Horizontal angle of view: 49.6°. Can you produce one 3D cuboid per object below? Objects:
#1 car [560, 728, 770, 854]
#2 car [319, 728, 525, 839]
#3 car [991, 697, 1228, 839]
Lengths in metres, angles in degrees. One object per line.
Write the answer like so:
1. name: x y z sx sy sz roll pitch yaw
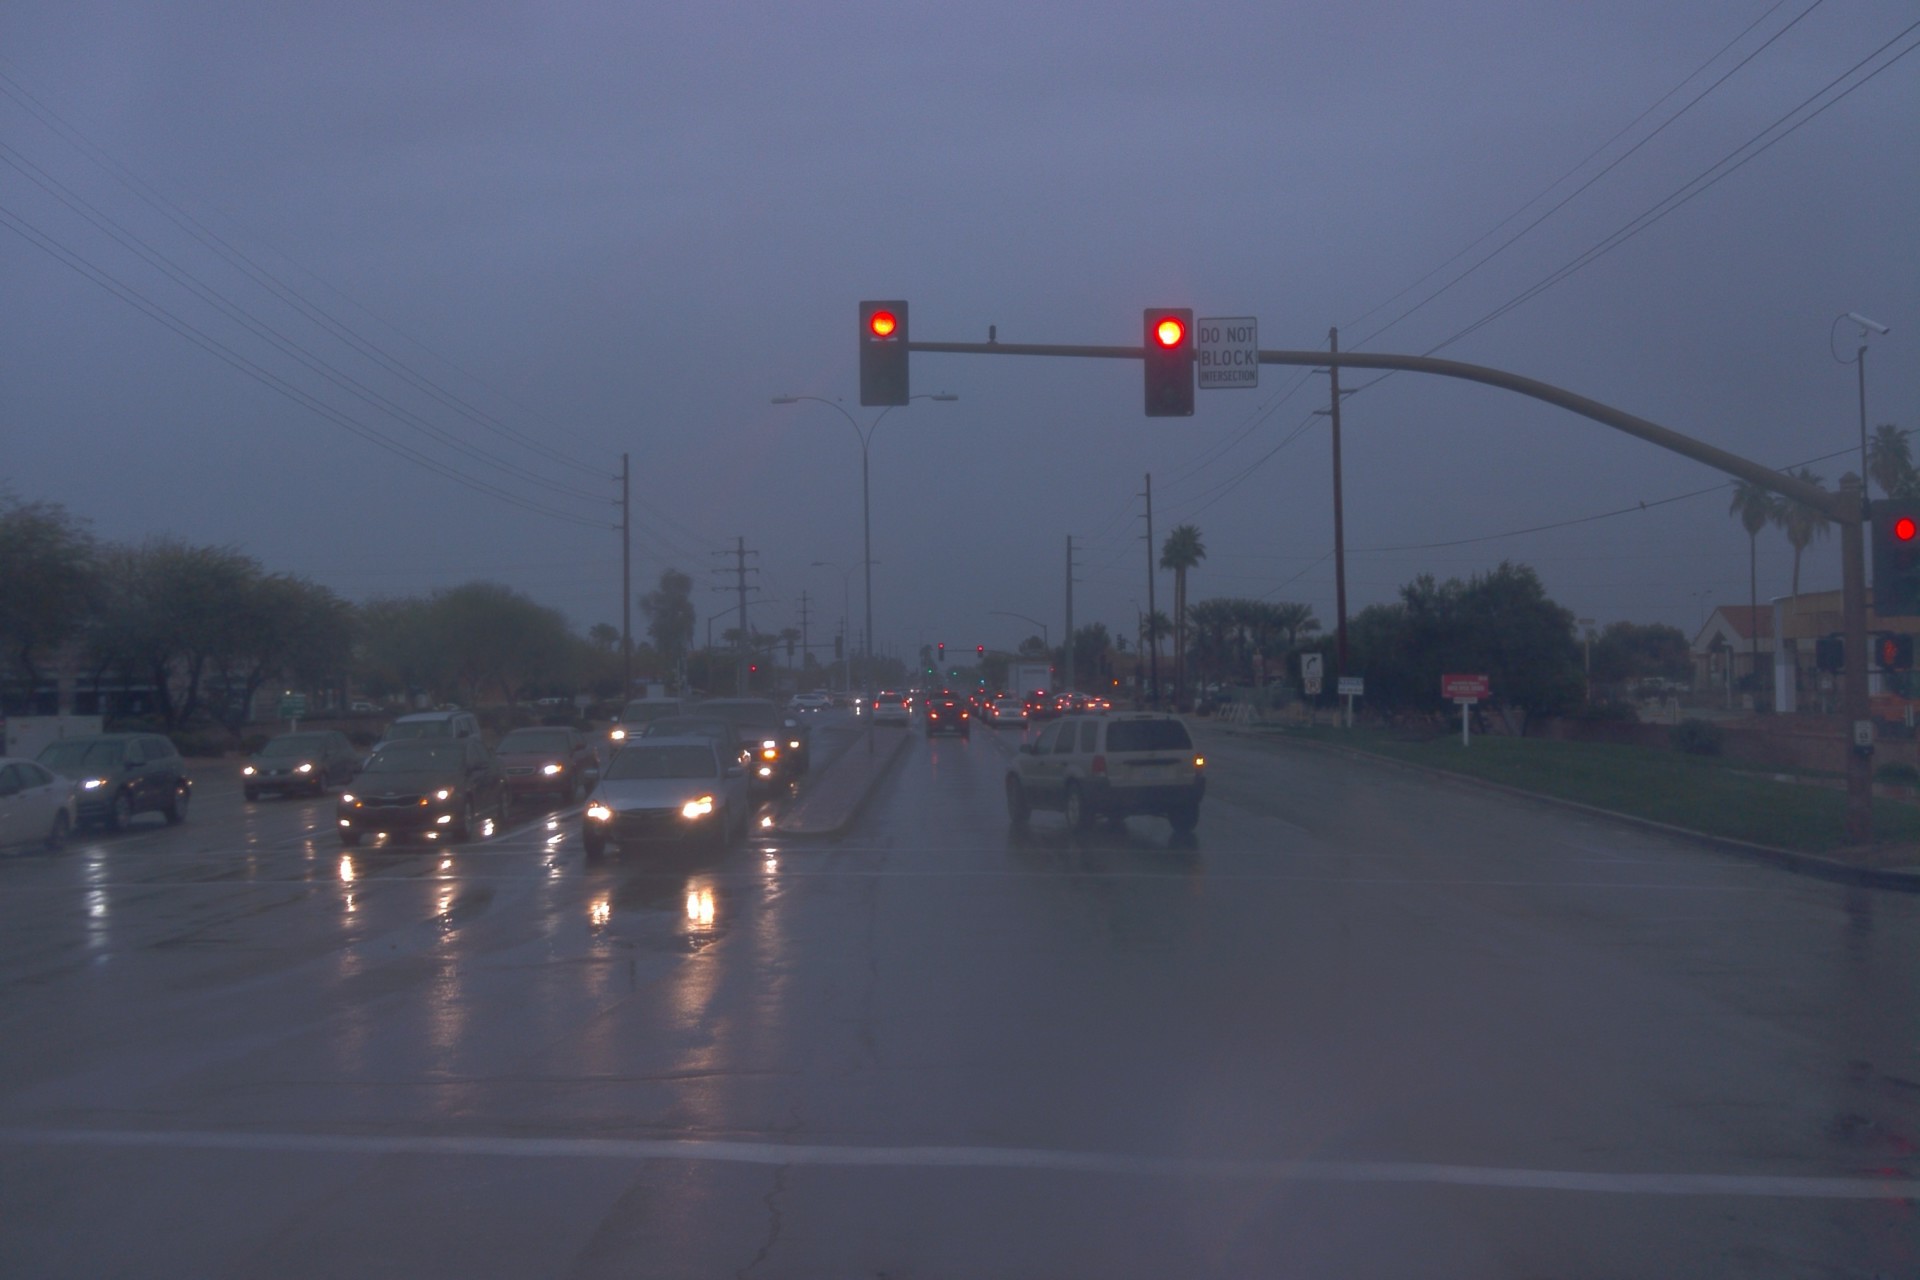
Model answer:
1. car: -3.794 1.932 27.539 2.102 1.410 4.605 0 -1 1
2. car: -8.040 2.116 31.497 2.042 1.440 4.763 0 -1 -2
3. car: 2.079 1.785 30.388 2.001 1.870 4.414 0 -1 -17
